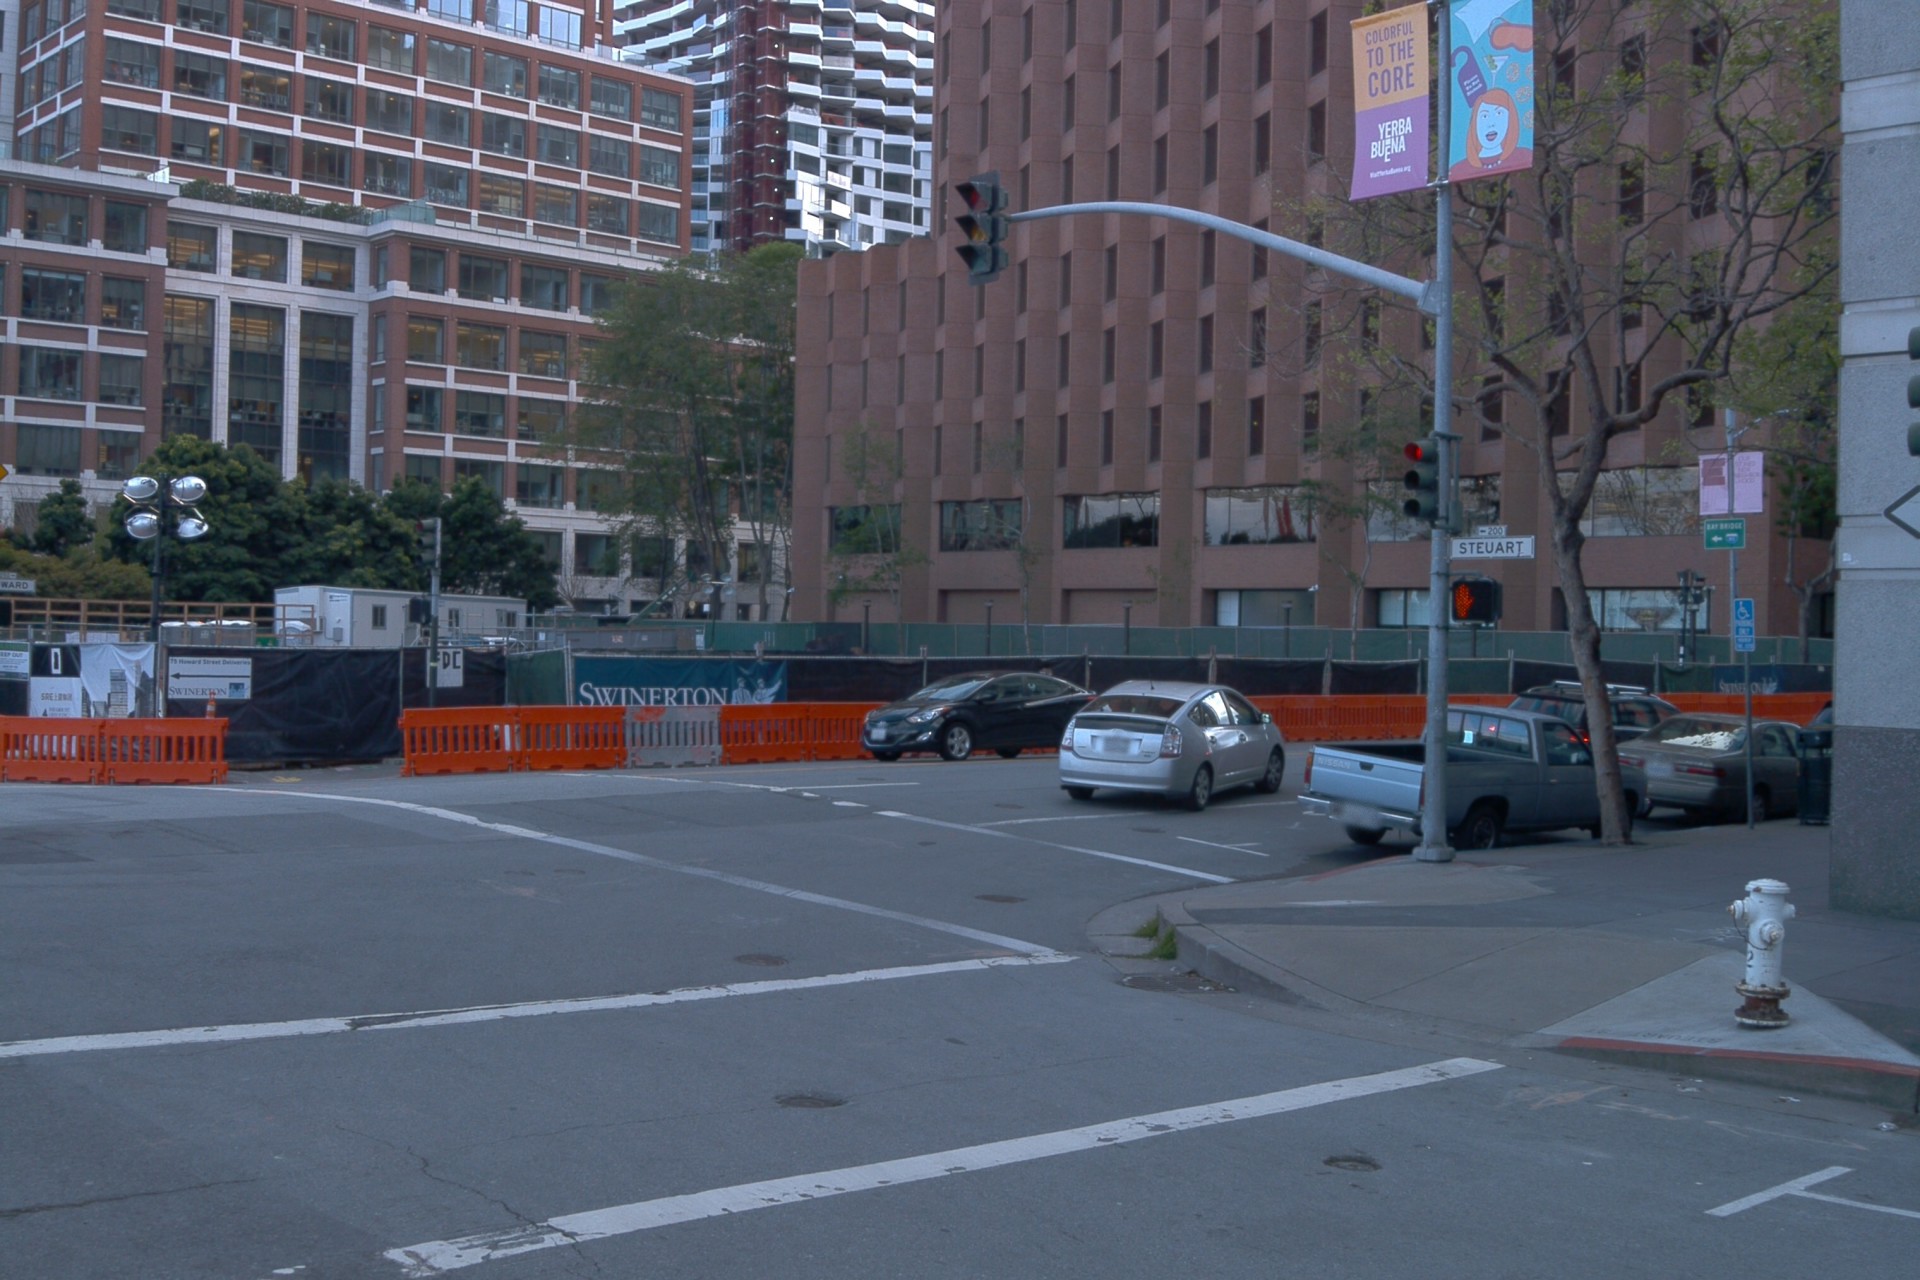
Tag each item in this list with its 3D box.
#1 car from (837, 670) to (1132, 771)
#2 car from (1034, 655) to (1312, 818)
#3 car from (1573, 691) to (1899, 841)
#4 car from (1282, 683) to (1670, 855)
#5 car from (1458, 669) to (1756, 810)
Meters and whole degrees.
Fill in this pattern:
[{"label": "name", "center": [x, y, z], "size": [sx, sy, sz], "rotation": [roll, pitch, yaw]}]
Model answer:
[{"label": "car", "center": [0.456, 1.221, 32.616], "size": [4.607, 1.430, 1.996], "rotation": [0, 0, -44]}, {"label": "car", "center": [2.794, 1.122, 25.874], "size": [2.019, 1.820, 4.420], "rotation": [1, 0, 27]}, {"label": "car", "center": [10.151, 1.550, 26.600], "size": [4.581, 1.660, 2.108], "rotation": [0, 0, -42]}, {"label": "car", "center": [5.759, 1.322, 22.508], "size": [4.672, 1.610, 1.863], "rotation": [0, 0, -42]}, {"label": "car", "center": [9.118, 1.323, 28.697], "size": [4.208, 1.760, 2.035], "rotation": [0, 0, -40]}]
